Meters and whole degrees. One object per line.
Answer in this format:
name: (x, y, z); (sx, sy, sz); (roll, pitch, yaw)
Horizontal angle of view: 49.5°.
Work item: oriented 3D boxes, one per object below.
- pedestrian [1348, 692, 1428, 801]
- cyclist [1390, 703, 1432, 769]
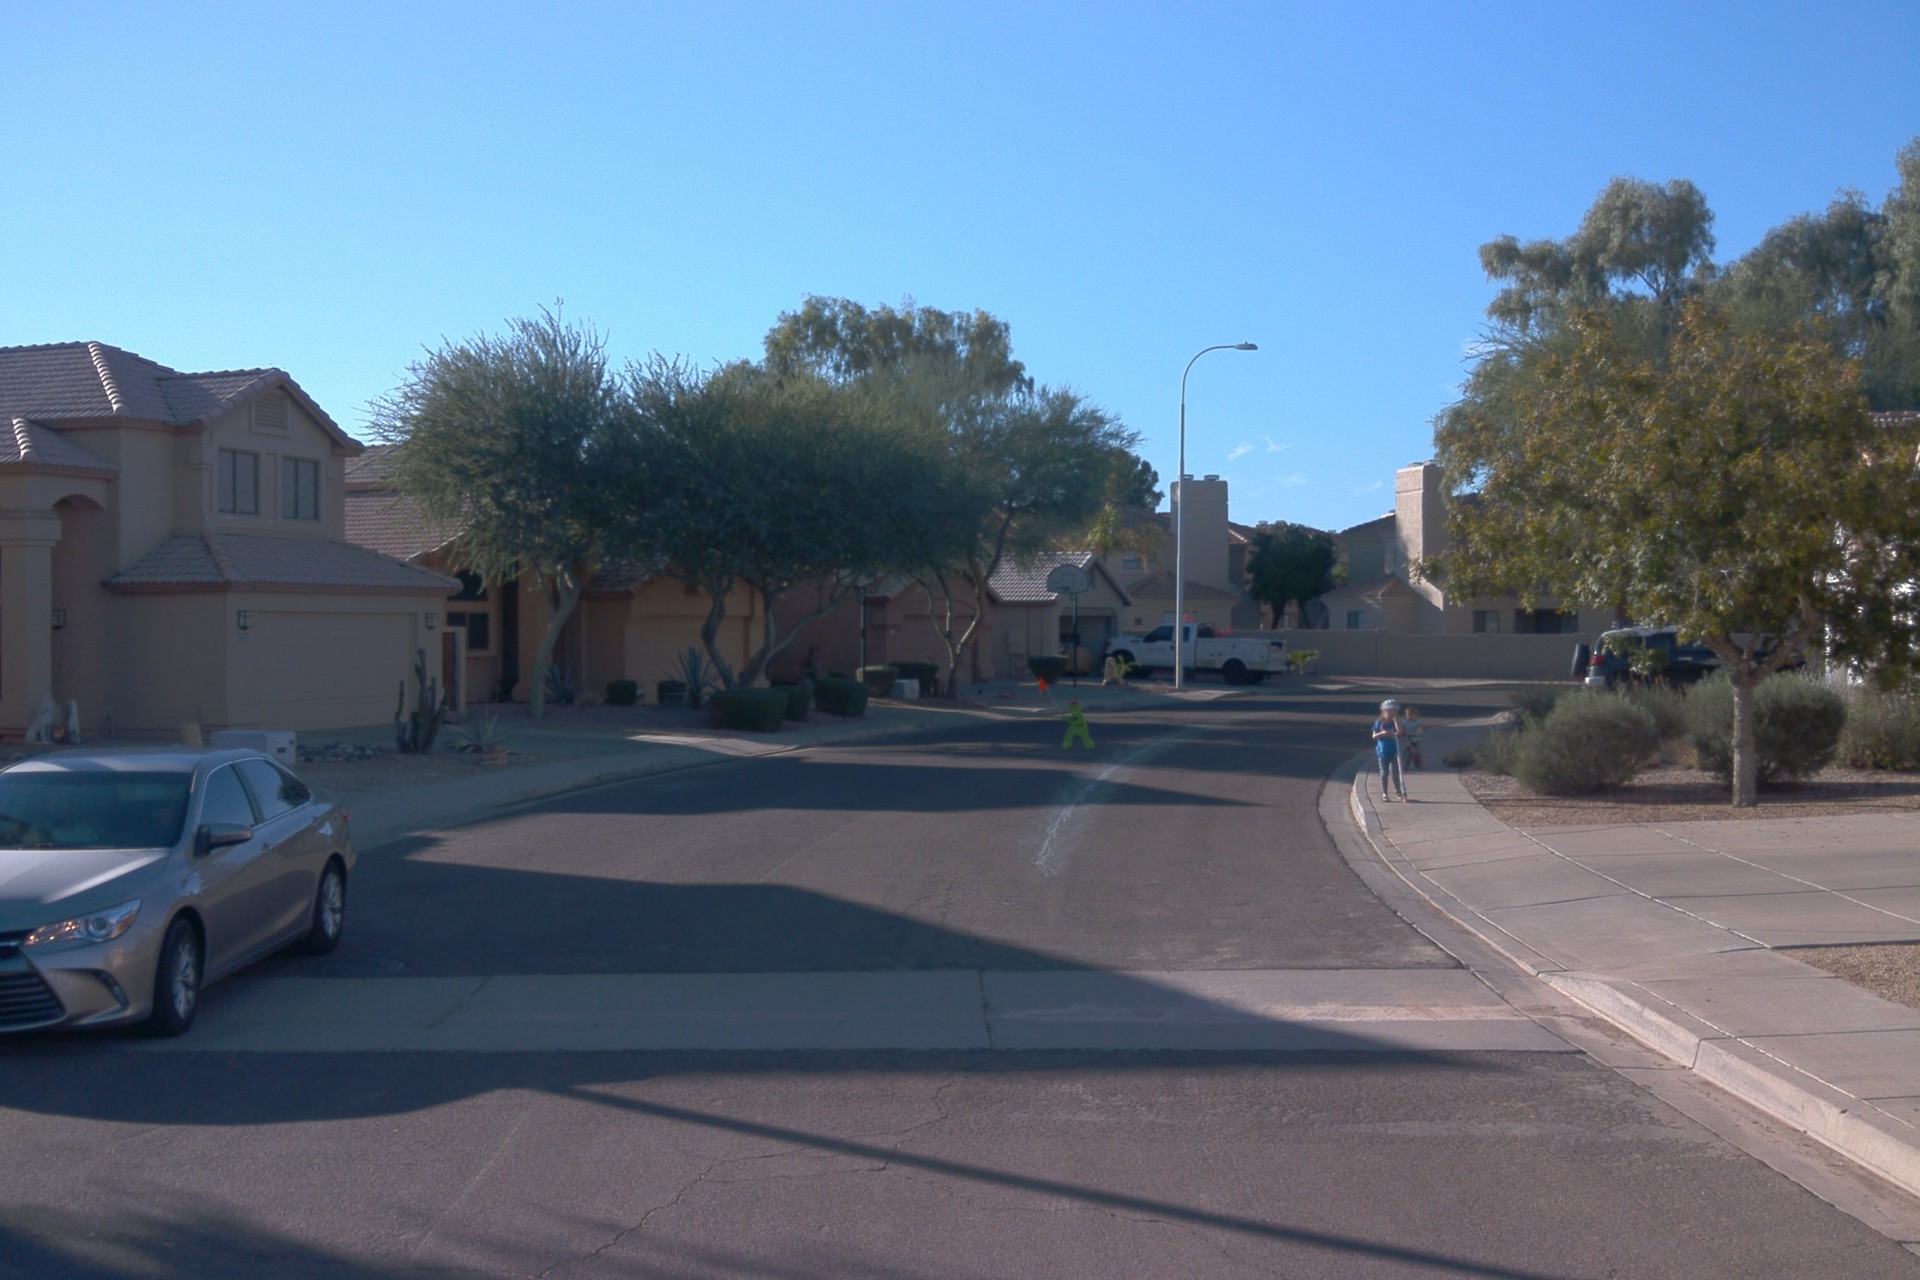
pedestrian: (5.033, 1.238, 24.509); (0.543, 1.230, 1.167); (0, 0, -8)
cyclist: (6.436, 1.363, 29.655); (0.535, 0.890, 0.819); (0, 0, 16)
